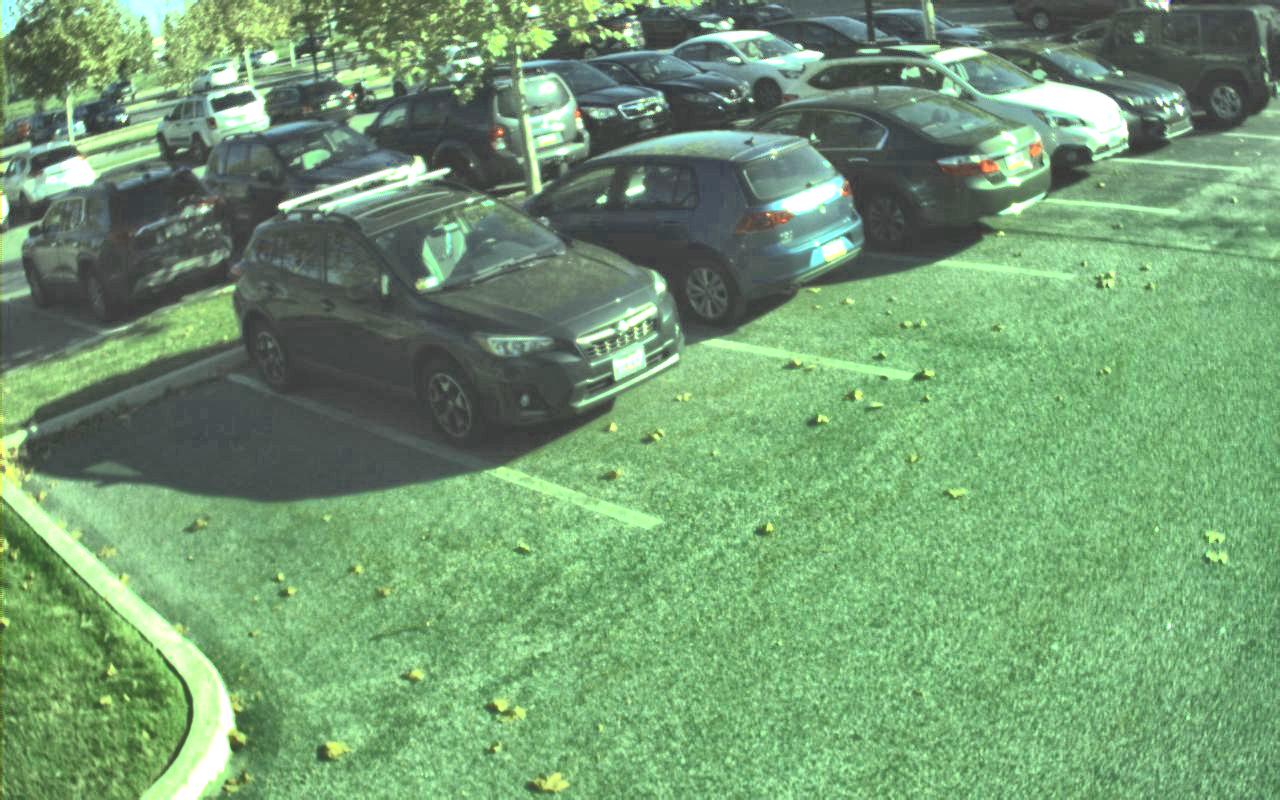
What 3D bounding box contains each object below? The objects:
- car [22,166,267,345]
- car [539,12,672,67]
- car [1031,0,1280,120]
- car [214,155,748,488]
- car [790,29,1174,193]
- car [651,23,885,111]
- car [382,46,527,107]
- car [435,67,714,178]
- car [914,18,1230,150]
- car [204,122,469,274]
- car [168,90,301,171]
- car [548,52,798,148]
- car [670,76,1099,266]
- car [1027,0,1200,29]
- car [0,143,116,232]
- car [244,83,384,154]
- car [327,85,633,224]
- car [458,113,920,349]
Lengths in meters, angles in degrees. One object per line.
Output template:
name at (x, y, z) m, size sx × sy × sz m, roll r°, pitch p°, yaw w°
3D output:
car at (-7.015, -2.117, 15.996) m, size 2.016 × 1.684 × 4.650 m, roll -15°, pitch 22°, yaw -40°
car at (-1.177, -11.622, 39.730) m, size 2.002 × 1.705 × 4.572 m, roll -13°, pitch 20°, yaw -35°
car at (8.648, -5.587, 17.882) m, size 4.710 × 1.887 × 2.051 m, roll 15°, pitch 22°, yaw 42°
car at (-1.514, -0.907, 10.010) m, size 4.526 × 1.705 × 1.975 m, roll 15°, pitch 23°, yaw 43°
car at (4.303, -3.789, 15.280) m, size 2.028 × 1.695 × 4.726 m, roll -14°, pitch 21°, yaw -39°
car at (2.483, -6.683, 24.468) m, size 1.980 × 1.623 × 4.551 m, roll -15°, pitch 21°, yaw -39°
car at (-5.666, -9.694, 36.802) m, size 4.593 × 1.656 × 2.006 m, roll 15°, pitch 23°, yaw 43°
car at (-1.183, -4.750, 20.857) m, size 4.500 × 1.615 × 1.982 m, roll 12°, pitch 21°, yaw 37°
car at (6.179, -4.577, 16.815) m, size 1.933 × 1.546 × 4.378 m, roll -14°, pitch 21°, yaw -38°
car at (-4.469, -2.977, 17.230) m, size 1.960 × 1.600 × 4.400 m, roll -15°, pitch 22°, yaw -39°
car at (-10.962, -7.218, 31.641) m, size 2.059 × 1.825 × 4.704 m, roll -14°, pitch 21°, yaw -38°
car at (0.537, -5.572, 22.737) m, size 4.417 × 1.551 × 1.937 m, roll 14°, pitch 22°, yaw 41°
car at (2.507, -2.596, 13.132) m, size 1.921 × 1.512 × 4.462 m, roll -14°, pitch 21°, yaw -37°
car at (14.011, -11.948, 33.694) m, size 2.090 × 1.789 × 4.947 m, roll -16°, pitch 22°, yaw -42°
car at (-14.706, -5.314, 28.194) m, size 2.002 × 1.706 × 4.542 m, roll -15°, pitch 21°, yaw -39°
car at (-9.043, -7.714, 33.011) m, size 2.011 × 1.674 × 4.556 m, roll -15°, pitch 22°, yaw -41°
car at (-2.548, -3.820, 18.641) m, size 4.681 × 1.734 × 2.034 m, roll 13°, pitch 21°, yaw 39°
car at (0.348, -1.761, 11.745) m, size 4.136 × 1.580 × 1.876 m, roll 14°, pitch 22°, yaw 42°
